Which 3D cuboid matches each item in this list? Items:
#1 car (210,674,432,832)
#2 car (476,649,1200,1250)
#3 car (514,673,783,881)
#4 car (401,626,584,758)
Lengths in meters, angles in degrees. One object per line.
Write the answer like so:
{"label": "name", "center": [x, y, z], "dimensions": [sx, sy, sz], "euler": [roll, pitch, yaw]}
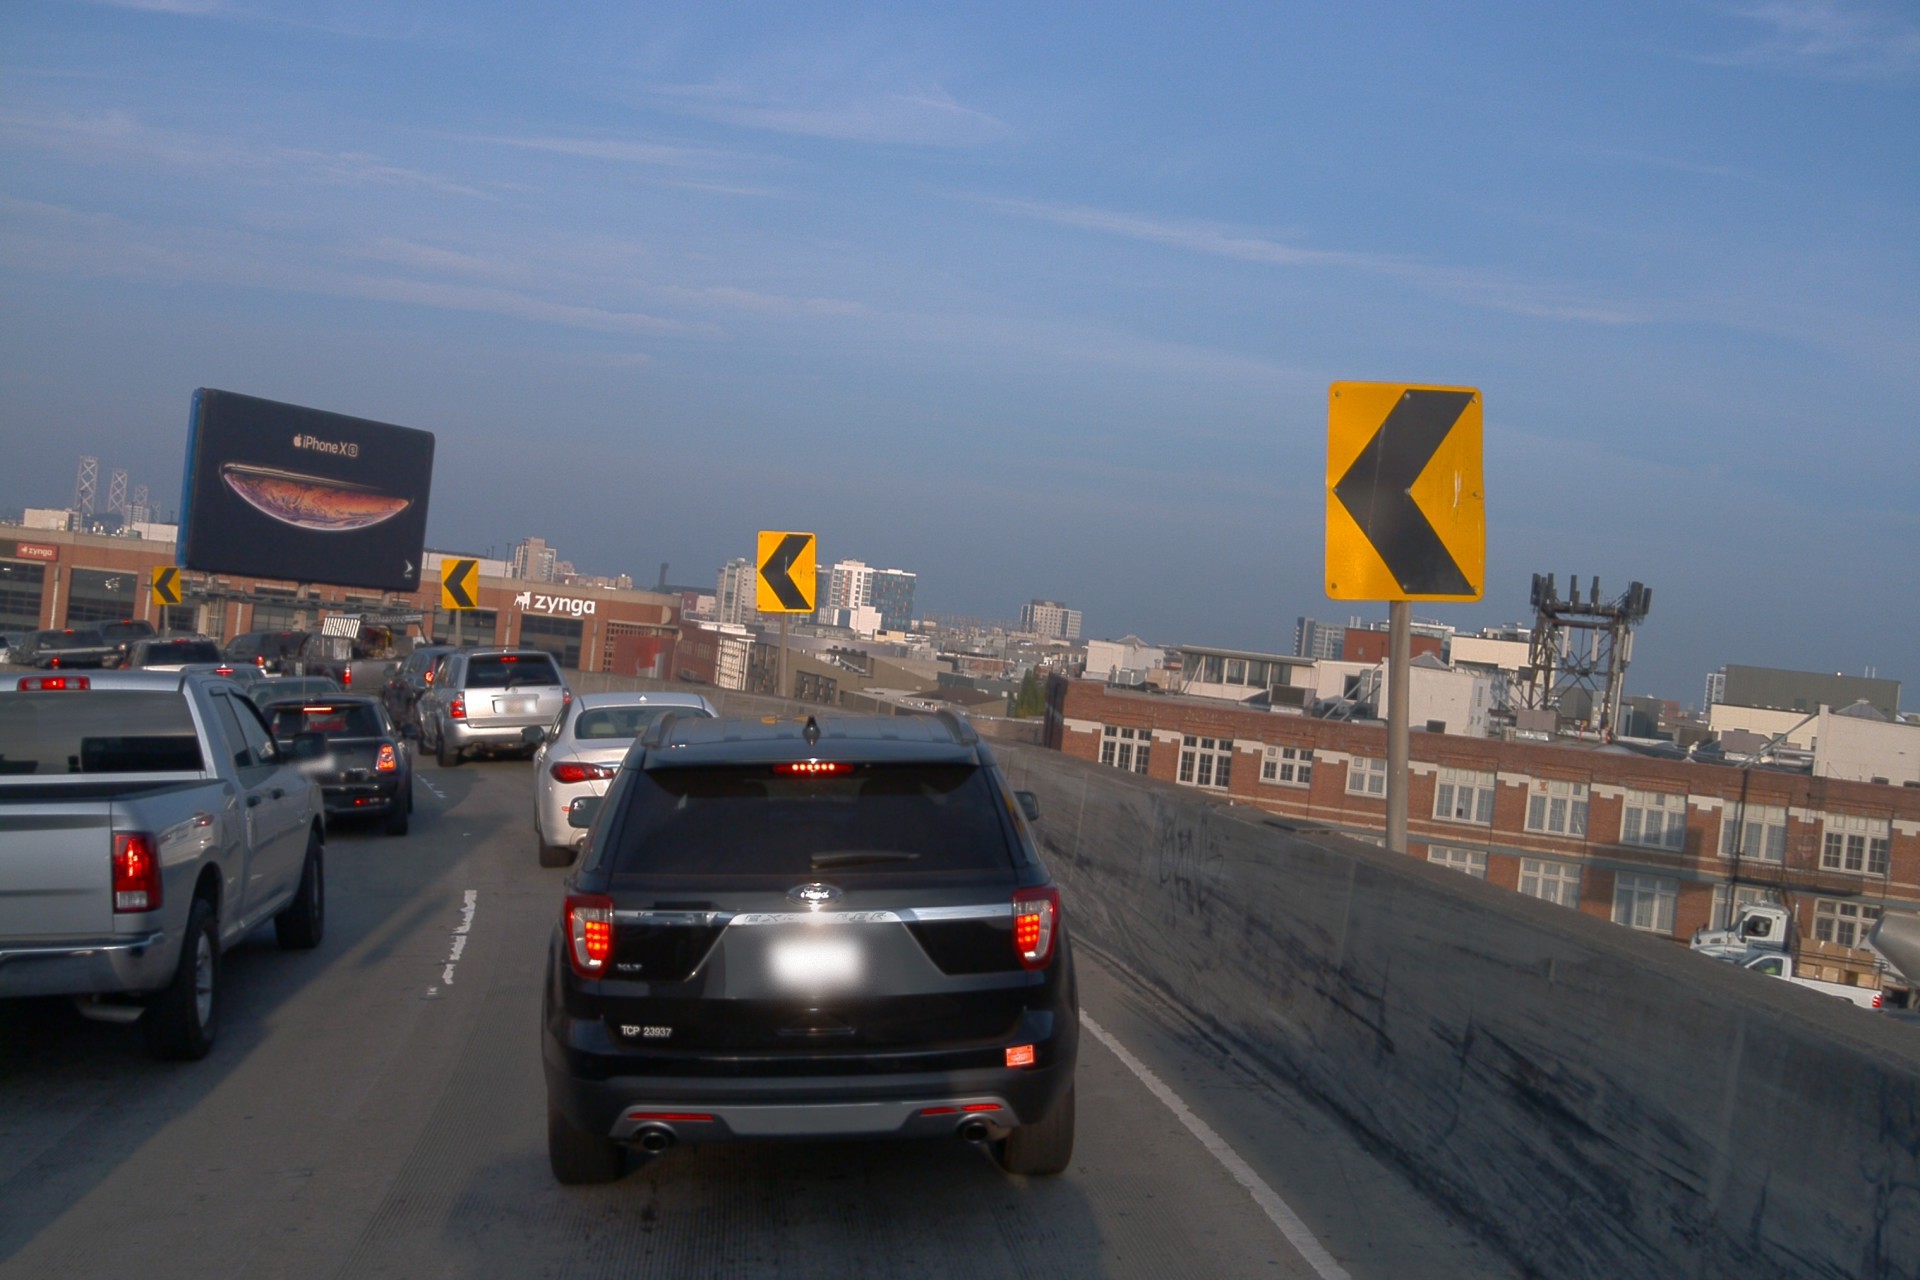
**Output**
{"label": "car", "center": [-6.628, 1.108, 21.674], "dimensions": [1.934, 1.411, 4.084], "euler": [0, 0, -13]}
{"label": "car", "center": [-0.646, 0.991, 9.052], "dimensions": [2.327, 1.850, 4.877], "euler": [0, 0, -7]}
{"label": "car", "center": [-3.023, 1.150, 19.070], "dimensions": [2.143, 1.590, 4.510], "euler": [0, 0, -13]}
{"label": "car", "center": [-7.126, 0.719, 30.979], "dimensions": [1.992, 1.820, 4.394], "euler": [0, 0, -22]}
